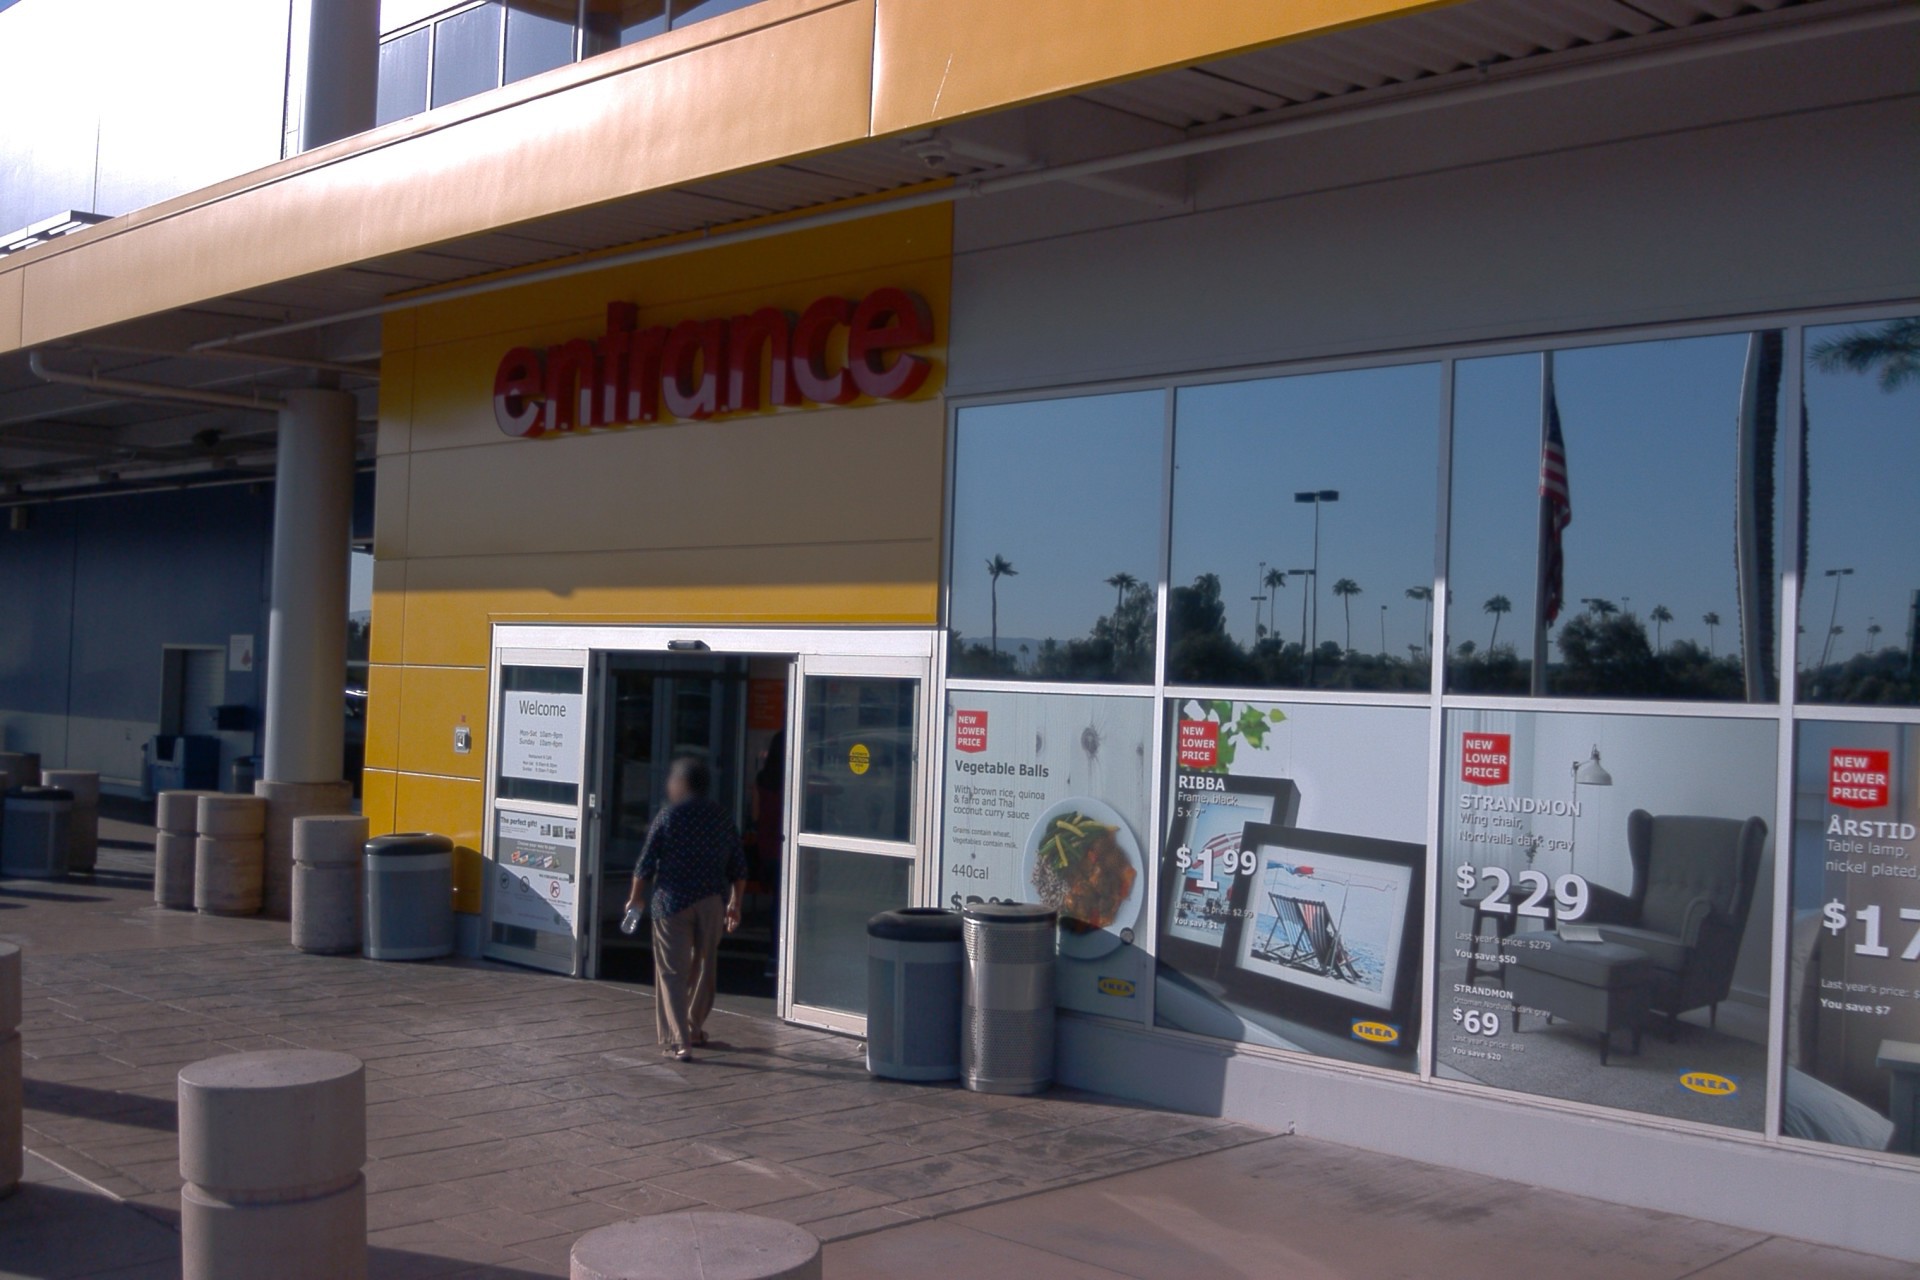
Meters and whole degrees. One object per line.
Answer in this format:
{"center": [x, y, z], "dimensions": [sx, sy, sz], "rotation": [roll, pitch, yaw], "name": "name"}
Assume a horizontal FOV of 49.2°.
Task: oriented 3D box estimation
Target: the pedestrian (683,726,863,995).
{"center": [-1.235, 1.433, 14.005], "dimensions": [0.831, 1.680, 0.973], "rotation": [1, 0, 19], "name": "pedestrian"}

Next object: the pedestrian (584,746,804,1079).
{"center": [-1.402, 1.373, 10.905], "dimensions": [0.947, 1.580, 1.104], "rotation": [2, 0, -15], "name": "pedestrian"}
